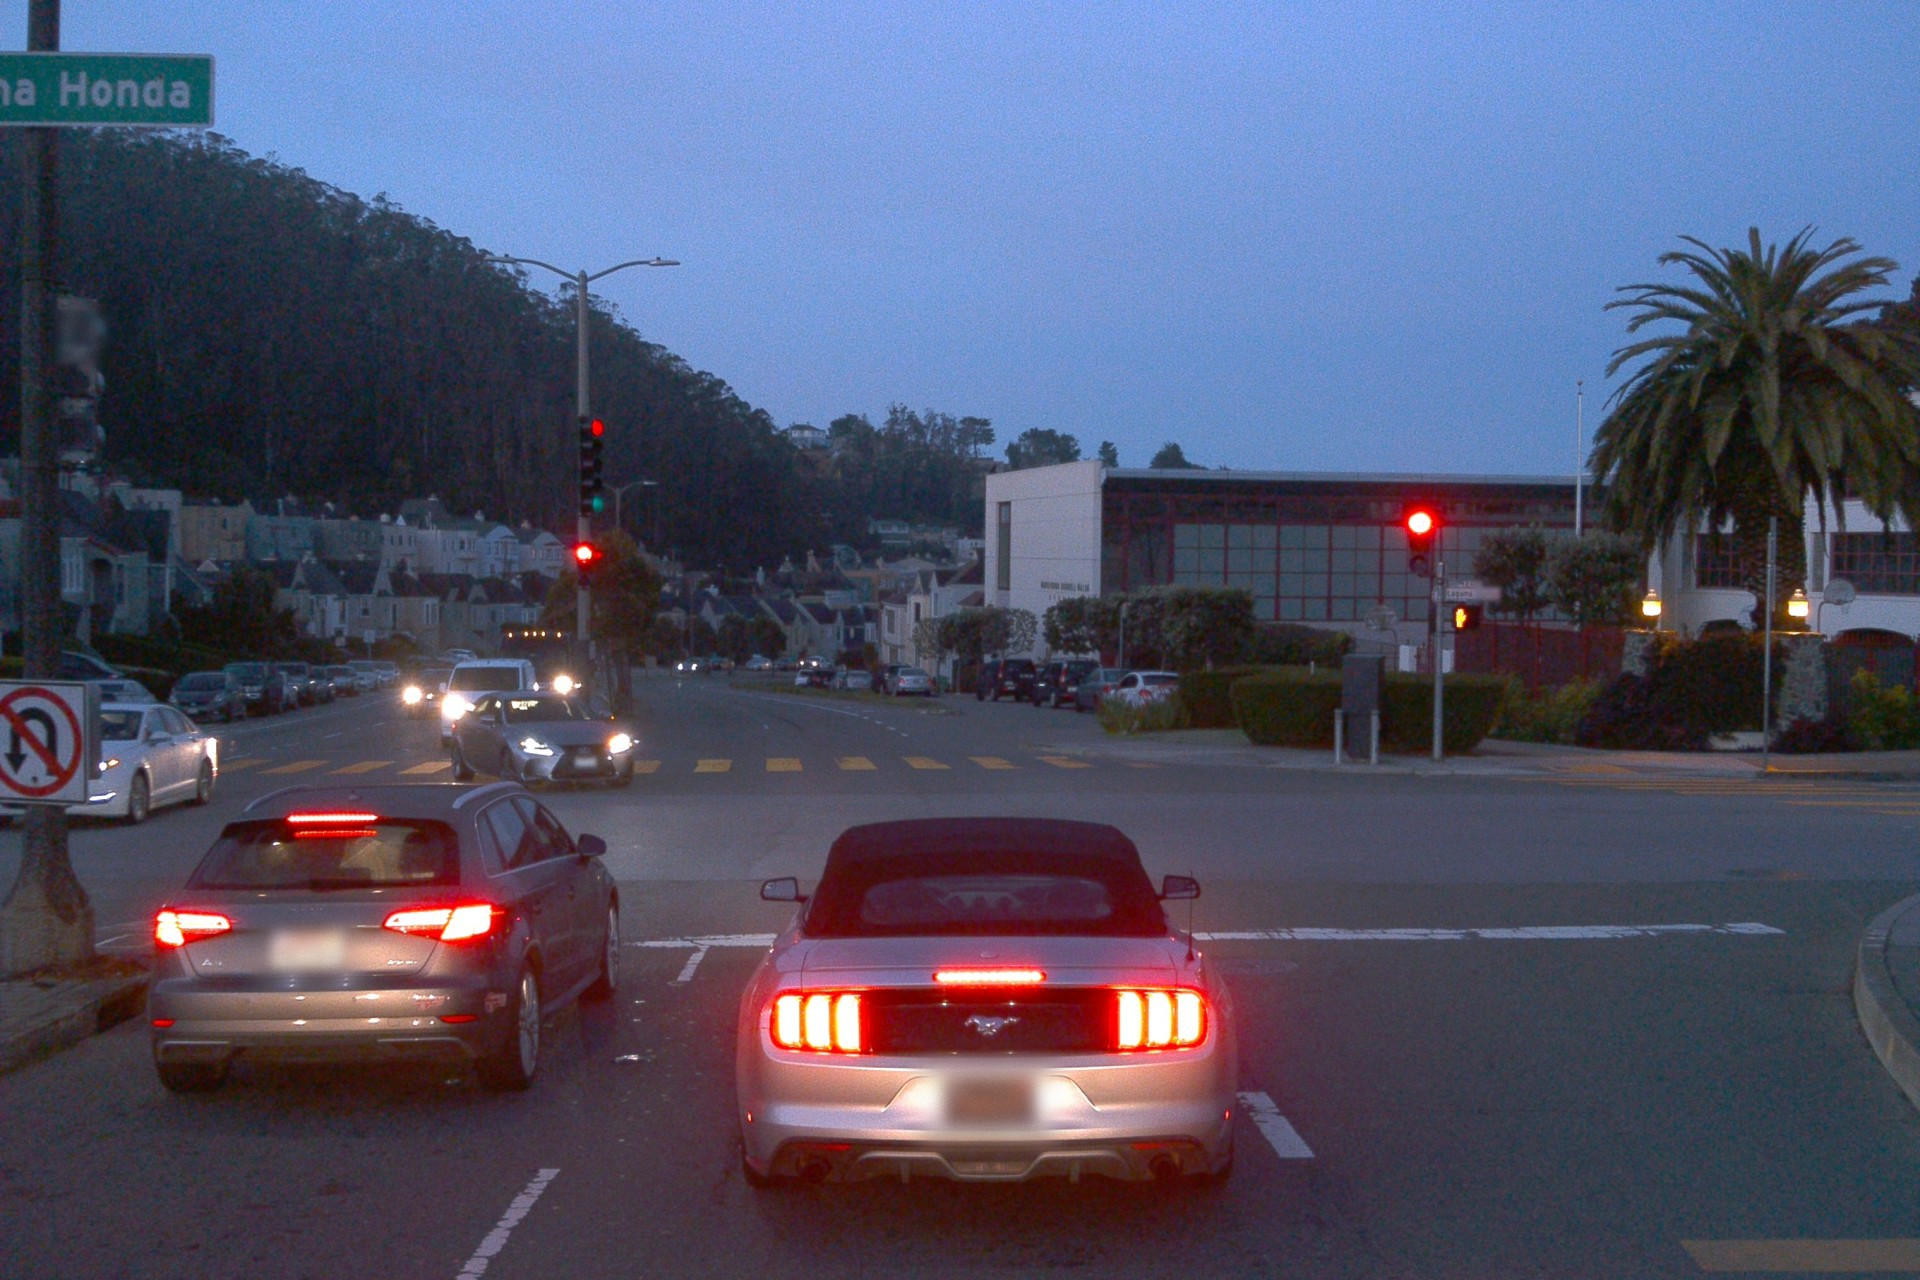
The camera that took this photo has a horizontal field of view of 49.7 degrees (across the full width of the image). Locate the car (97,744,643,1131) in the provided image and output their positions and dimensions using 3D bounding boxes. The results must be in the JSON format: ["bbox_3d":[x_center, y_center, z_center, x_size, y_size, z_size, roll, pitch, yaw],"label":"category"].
[{"bbox_3d":[-2.886,1.403,11.058,1.782,1.510,3.987,0,0,0],"label":"car"}]

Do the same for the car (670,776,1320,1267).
[{"bbox_3d":[0.099,1.419,9.110,2.174,1.380,4.355,0,0,0],"label":"car"}]

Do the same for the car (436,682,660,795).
[{"bbox_3d":[-6.289,1.415,31.162,2.028,1.490,4.670,0,0,-28],"label":"car"}]
